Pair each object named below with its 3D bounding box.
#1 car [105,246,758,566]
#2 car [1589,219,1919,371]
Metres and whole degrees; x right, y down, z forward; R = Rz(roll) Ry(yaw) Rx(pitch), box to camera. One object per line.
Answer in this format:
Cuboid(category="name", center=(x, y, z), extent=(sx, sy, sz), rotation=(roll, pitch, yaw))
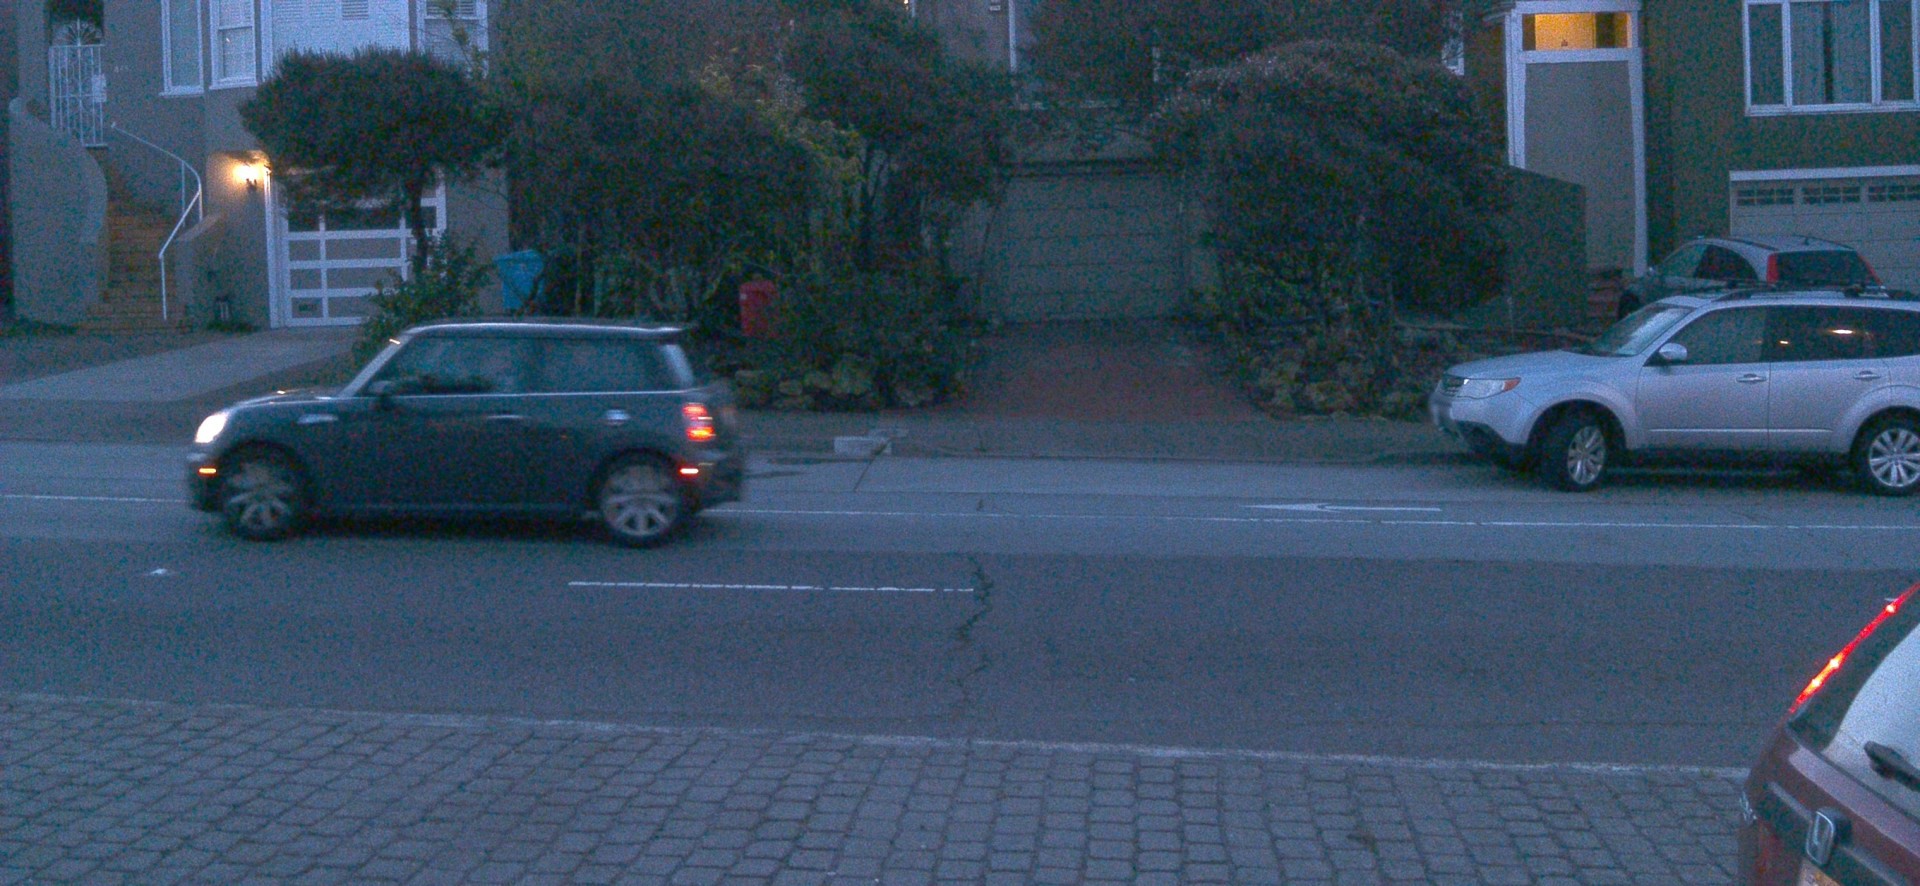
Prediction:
Cuboid(category="car", center=(-3.355, -0.314, 13.727), extent=(3.784, 1.885, 1.820), rotation=(1, 4, 1))
Cuboid(category="car", center=(9.698, -1.910, 25.786), extent=(1.986, 1.661, 4.471), rotation=(0, 6, -7))
